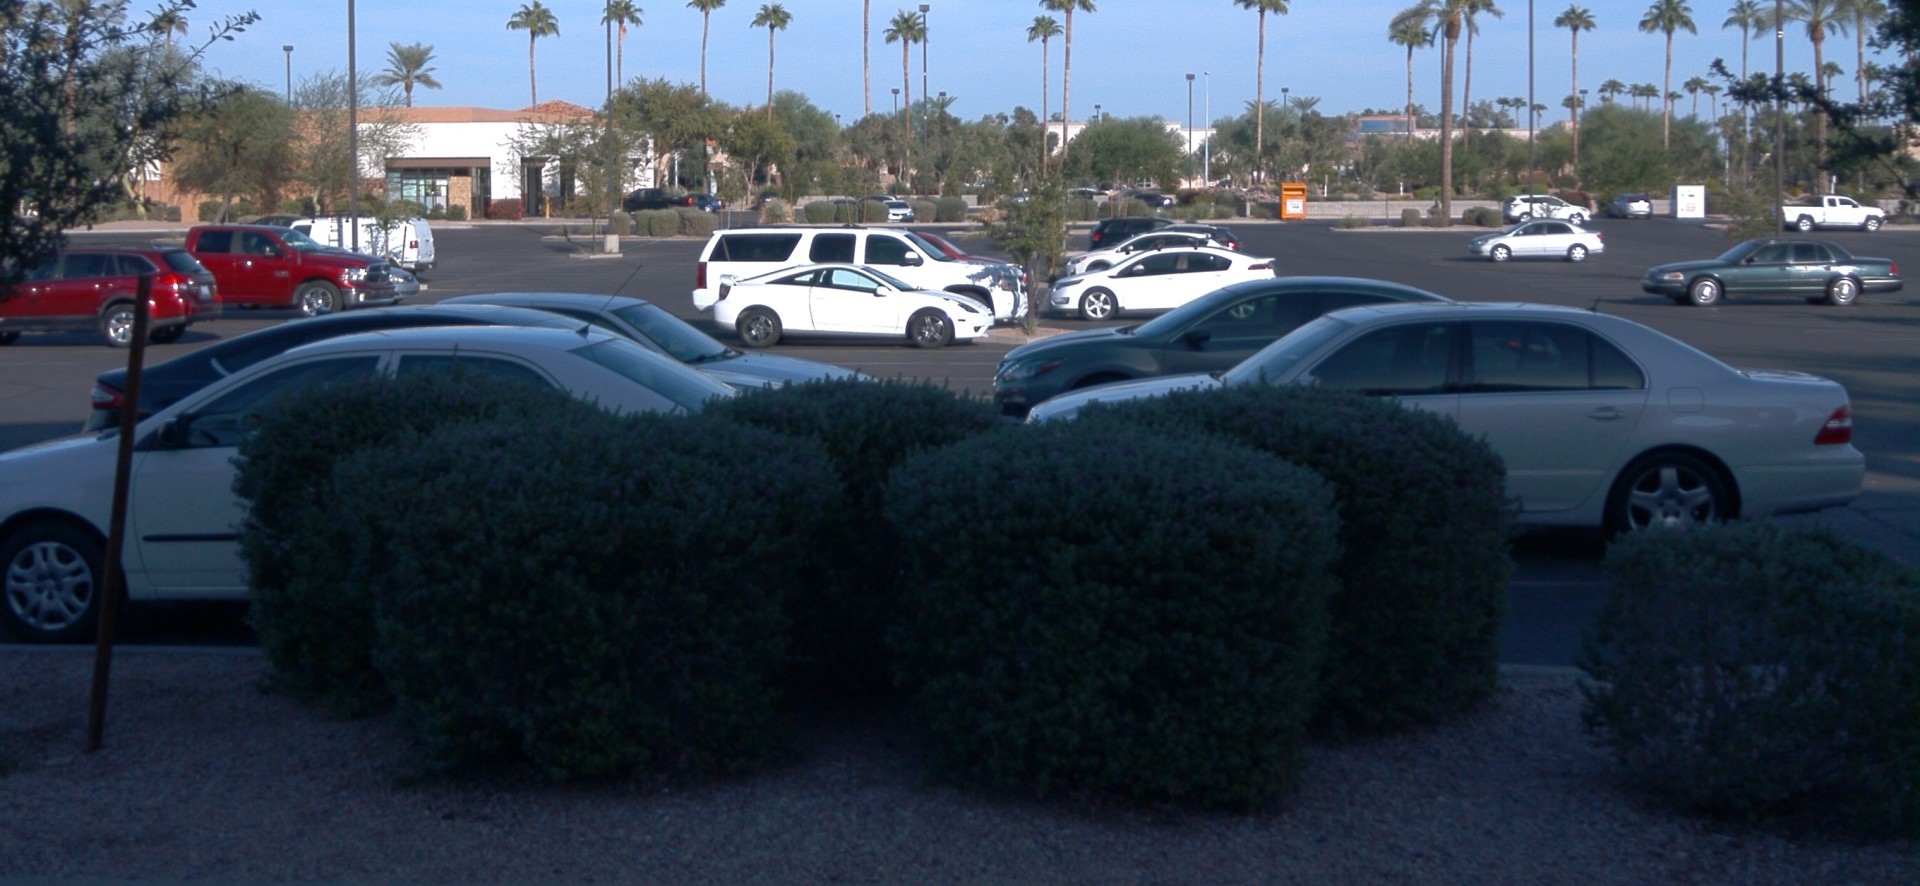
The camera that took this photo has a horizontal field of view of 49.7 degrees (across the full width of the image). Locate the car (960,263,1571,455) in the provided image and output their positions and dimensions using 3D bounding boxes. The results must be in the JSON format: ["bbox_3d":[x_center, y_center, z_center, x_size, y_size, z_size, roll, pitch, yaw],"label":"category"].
[{"bbox_3d":[2.572,-0.797,18.349,5.052,1.514,2.208,0,5,2],"label":"car"}]

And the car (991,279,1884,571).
[{"bbox_3d":[2.738,-0.191,12.950,5.079,1.574,2.217,0,5,1],"label":"car"}]

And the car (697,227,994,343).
[{"bbox_3d":[-1.723,-2.499,32.339,4.376,1.714,2.085,0,4,5],"label":"car"}]

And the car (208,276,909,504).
[{"bbox_3d":[-3.001,-0.487,15.979,4.877,1.494,2.059,1,5,11],"label":"car"}]

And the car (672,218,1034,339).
[{"bbox_3d":[-1.723,-2.829,35.135,5.835,1.933,2.560,0,5,5],"label":"car"}]
